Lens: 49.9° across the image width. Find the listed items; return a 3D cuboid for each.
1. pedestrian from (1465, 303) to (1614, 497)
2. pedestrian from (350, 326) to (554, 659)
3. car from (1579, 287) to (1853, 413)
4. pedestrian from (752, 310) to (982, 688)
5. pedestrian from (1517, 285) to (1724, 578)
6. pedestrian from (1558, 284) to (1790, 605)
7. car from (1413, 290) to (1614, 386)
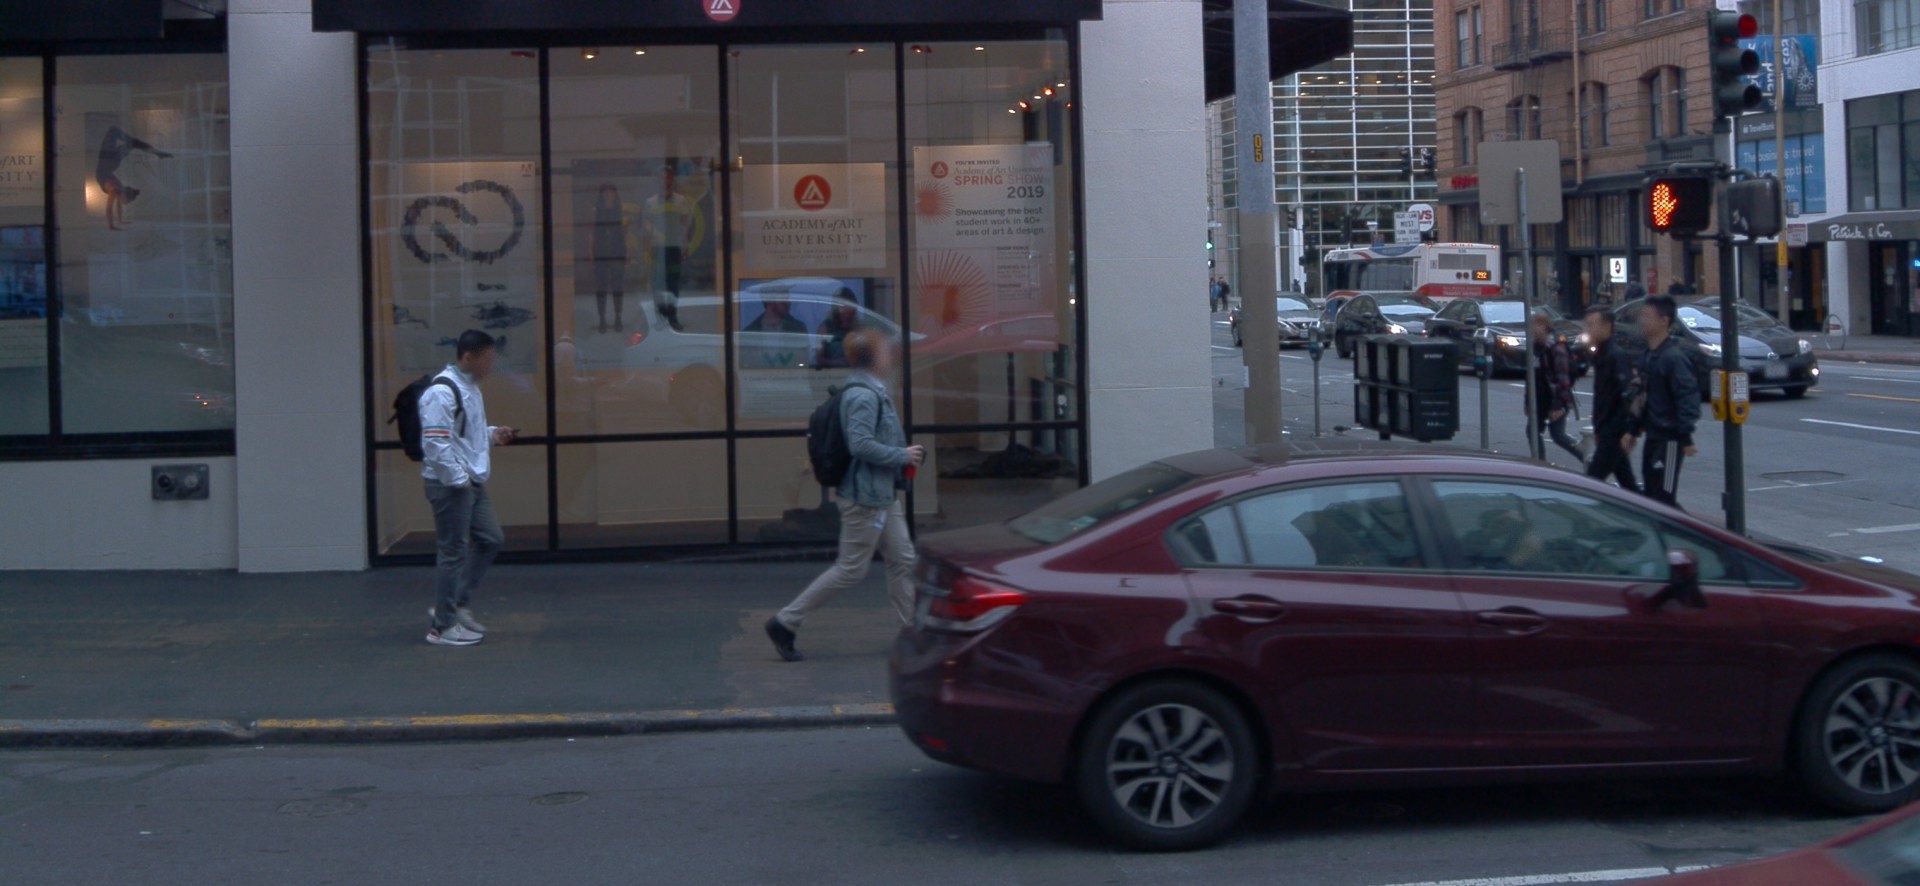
[{"bbox_3d":[5.490,-0.427,19.577,1.160,1.747,0.852,0,2,-3],"label":"pedestrian"},{"bbox_3d":[-2.814,0.247,11.504,0.964,1.747,0.716,0,2,-3],"label":"pedestrian"},{"bbox_3d":[11.109,-1.459,30.685,2.064,1.531,4.507,-1,6,-6],"label":"car"},{"bbox_3d":[-0.511,0.257,10.964,1.166,1.877,0.760,-1,2,-6],"label":"pedestrian"},{"bbox_3d":[4.494,-0.106,14.083,1.132,1.897,0.793,-1,2,-5],"label":"pedestrian"},{"bbox_3d":[4.629,-0.028,13.422,1.184,1.967,0.834,-1,2,-7],"label":"pedestrian"},{"bbox_3d":[10.092,-1.989,37.999,2.075,1.442,4.654,-1,6,-6],"label":"car"}]
